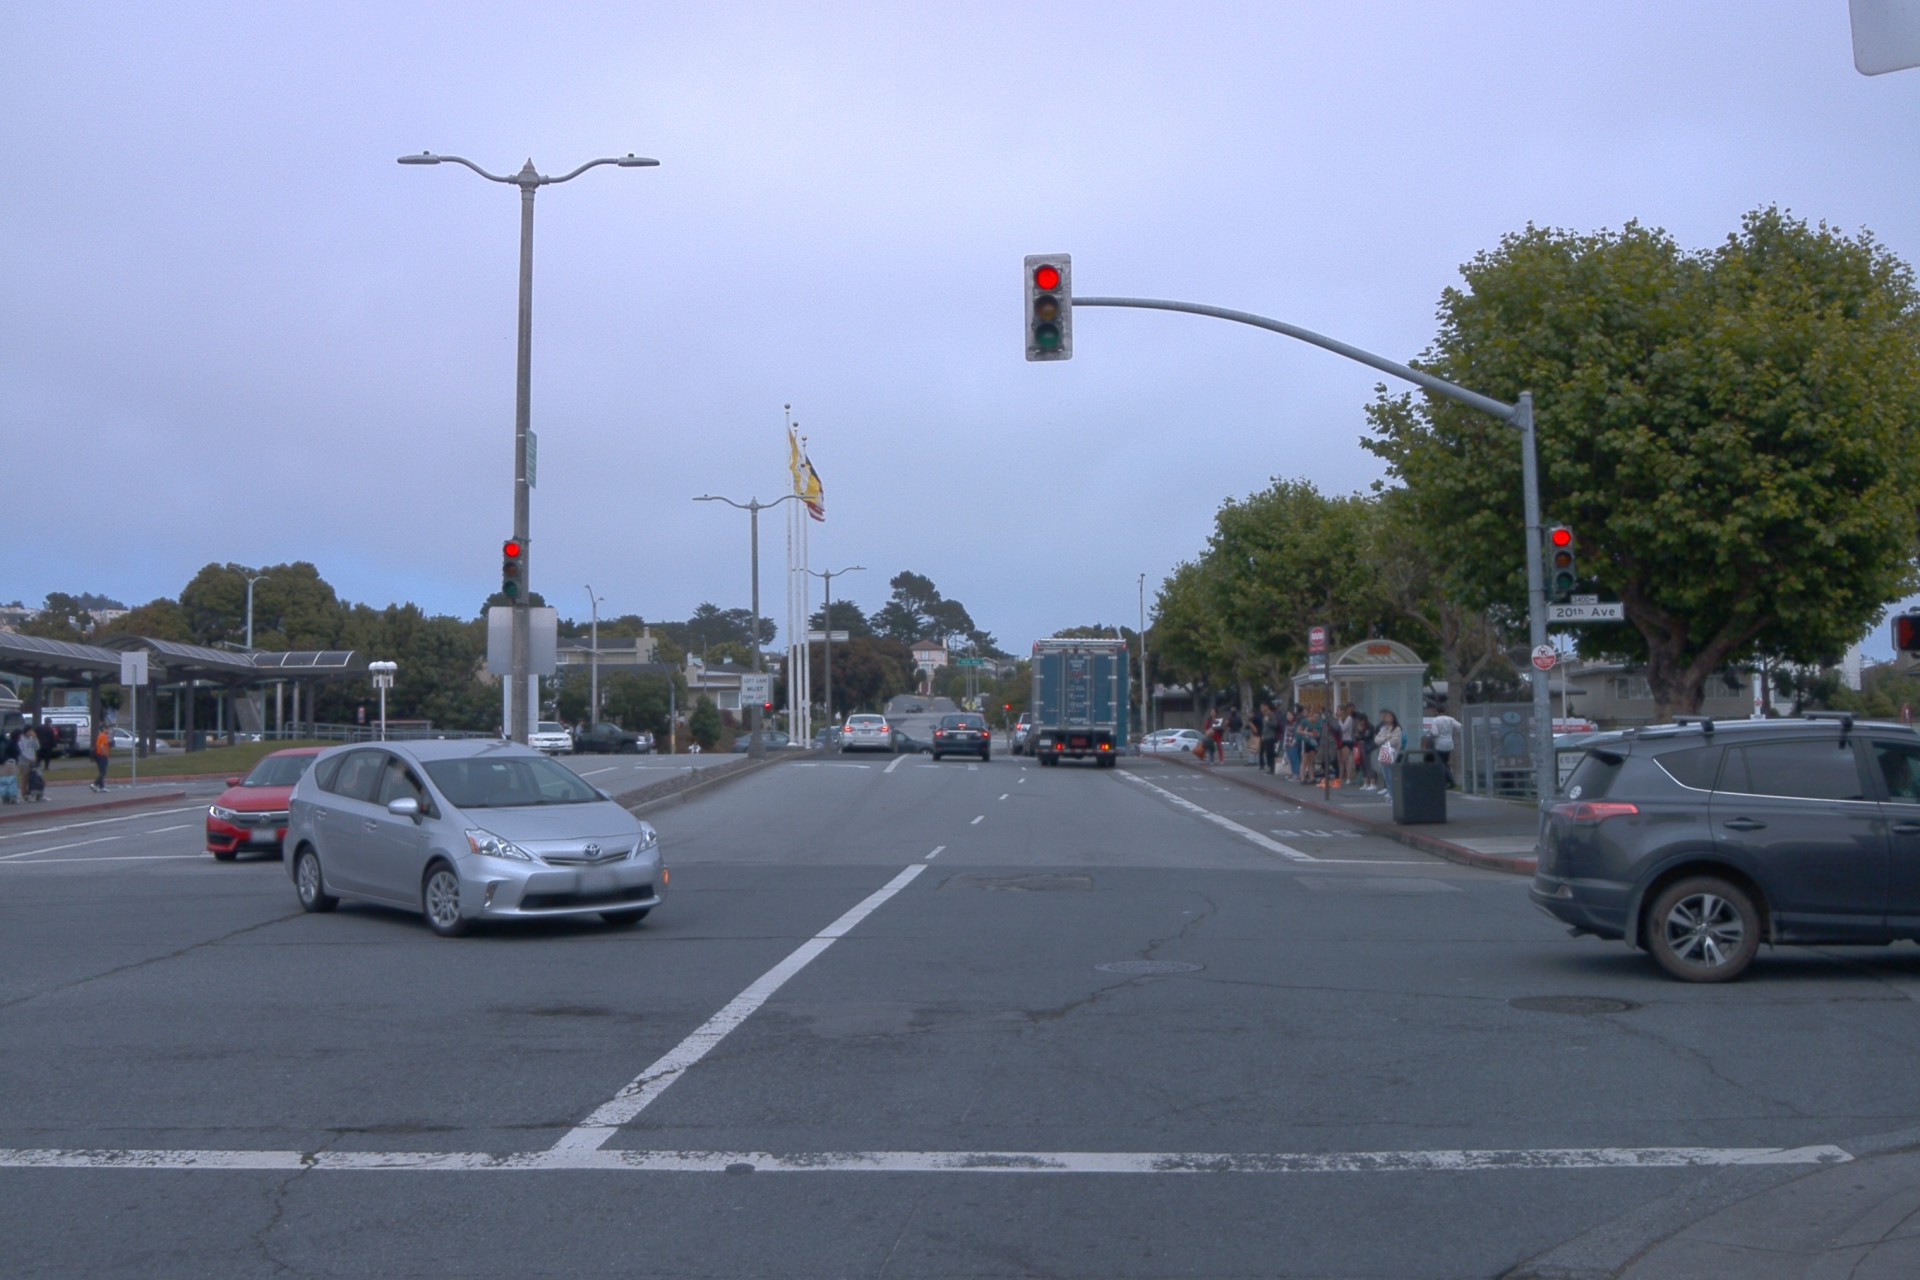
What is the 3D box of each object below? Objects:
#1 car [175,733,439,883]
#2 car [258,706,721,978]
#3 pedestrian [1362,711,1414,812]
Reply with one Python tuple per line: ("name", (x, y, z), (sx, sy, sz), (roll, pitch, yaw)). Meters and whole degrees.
("car", (-8.531, 2.148, 27.335), (2.281, 1.526, 4.652), (0, 1, -3))
("car", (-4.235, 1.599, 17.924), (2.099, 1.825, 4.705), (-1, 1, -38))
("pedestrian", (7.499, 2.116, 35.999), (0.605, 1.700, 0.727), (0, 1, -18))
